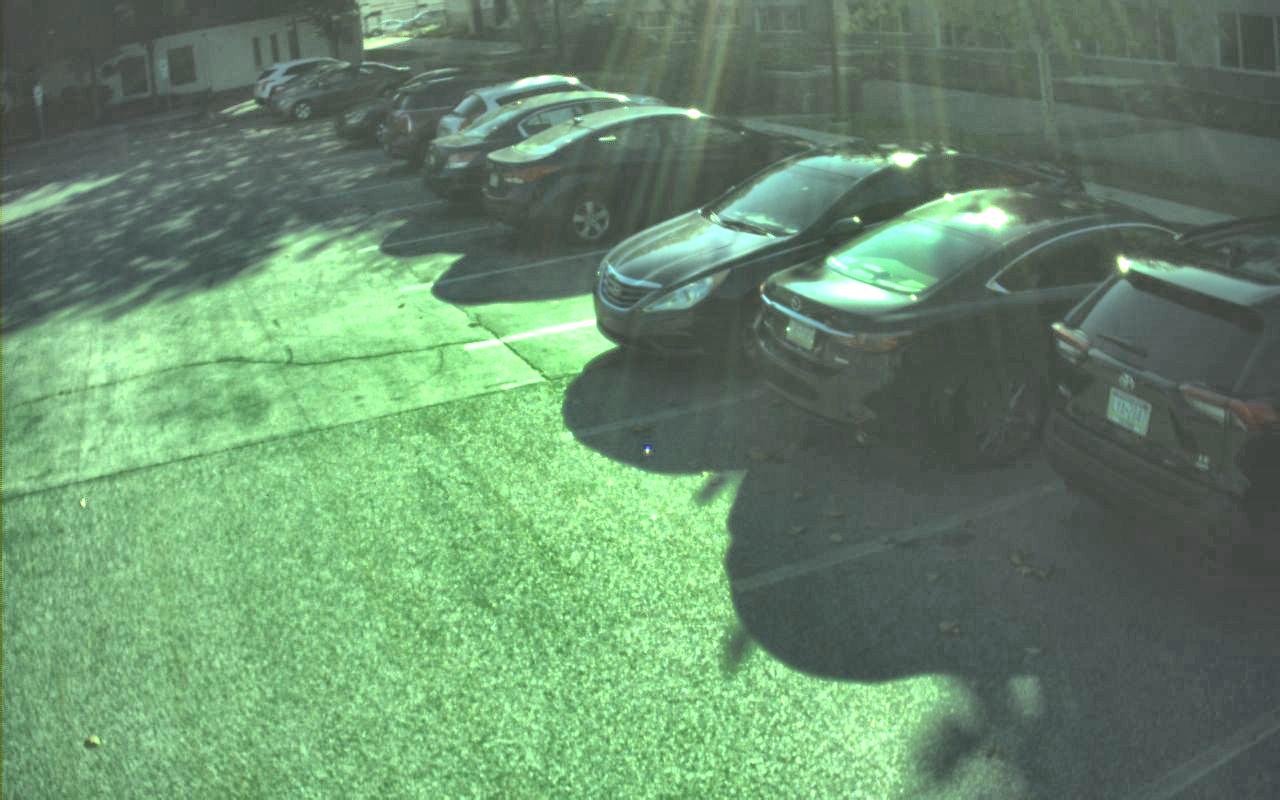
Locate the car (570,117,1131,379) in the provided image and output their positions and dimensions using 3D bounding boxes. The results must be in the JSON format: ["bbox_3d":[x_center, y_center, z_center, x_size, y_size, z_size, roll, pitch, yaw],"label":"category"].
[{"bbox_3d":[1.922,-1.497,10.601,4.588,1.616,1.982,-9,18,-24],"label":"car"}]

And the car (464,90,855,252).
[{"bbox_3d":[0.249,-2.937,15.451,4.476,1.572,1.933,-8,18,-21],"label":"car"}]

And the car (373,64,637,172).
[{"bbox_3d":[-2.513,-5.211,22.574,4.488,1.633,1.965,-7,17,-20],"label":"car"}]

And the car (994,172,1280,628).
[{"bbox_3d":[4.347,-0.335,6.431,4.475,1.673,1.984,-8,18,-23],"label":"car"}]

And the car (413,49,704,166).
[{"bbox_3d":[-1.357,-4.853,20.248,4.387,1.626,1.935,-8,17,-21],"label":"car"}]

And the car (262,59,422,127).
[{"bbox_3d":[-9.011,-9.236,36.254,4.632,1.643,1.977,-8,18,-23],"label":"car"}]

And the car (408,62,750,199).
[{"bbox_3d":[-0.890,-3.914,17.647,4.495,1.599,1.962,-7,17,-20],"label":"car"}]

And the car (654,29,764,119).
[{"bbox_3d":[1.382,-7.031,26.371,2.022,1.773,4.545,-1,17,-1],"label":"car"}]

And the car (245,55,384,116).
[{"bbox_3d":[-11.110,-10.651,40.667,4.552,1.708,1.989,-8,18,-22],"label":"car"}]

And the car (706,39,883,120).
[{"bbox_3d":[3.310,-7.147,27.208,2.007,1.611,4.657,-7,18,-20],"label":"car"}]

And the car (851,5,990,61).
[{"bbox_3d":[8.484,-11.193,36.637,1.970,1.599,4.675,-8,18,-22],"label":"car"}]

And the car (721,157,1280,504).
[{"bbox_3d":[2.902,-0.746,8.441,4.362,1.568,1.917,-10,18,-27],"label":"car"}]
